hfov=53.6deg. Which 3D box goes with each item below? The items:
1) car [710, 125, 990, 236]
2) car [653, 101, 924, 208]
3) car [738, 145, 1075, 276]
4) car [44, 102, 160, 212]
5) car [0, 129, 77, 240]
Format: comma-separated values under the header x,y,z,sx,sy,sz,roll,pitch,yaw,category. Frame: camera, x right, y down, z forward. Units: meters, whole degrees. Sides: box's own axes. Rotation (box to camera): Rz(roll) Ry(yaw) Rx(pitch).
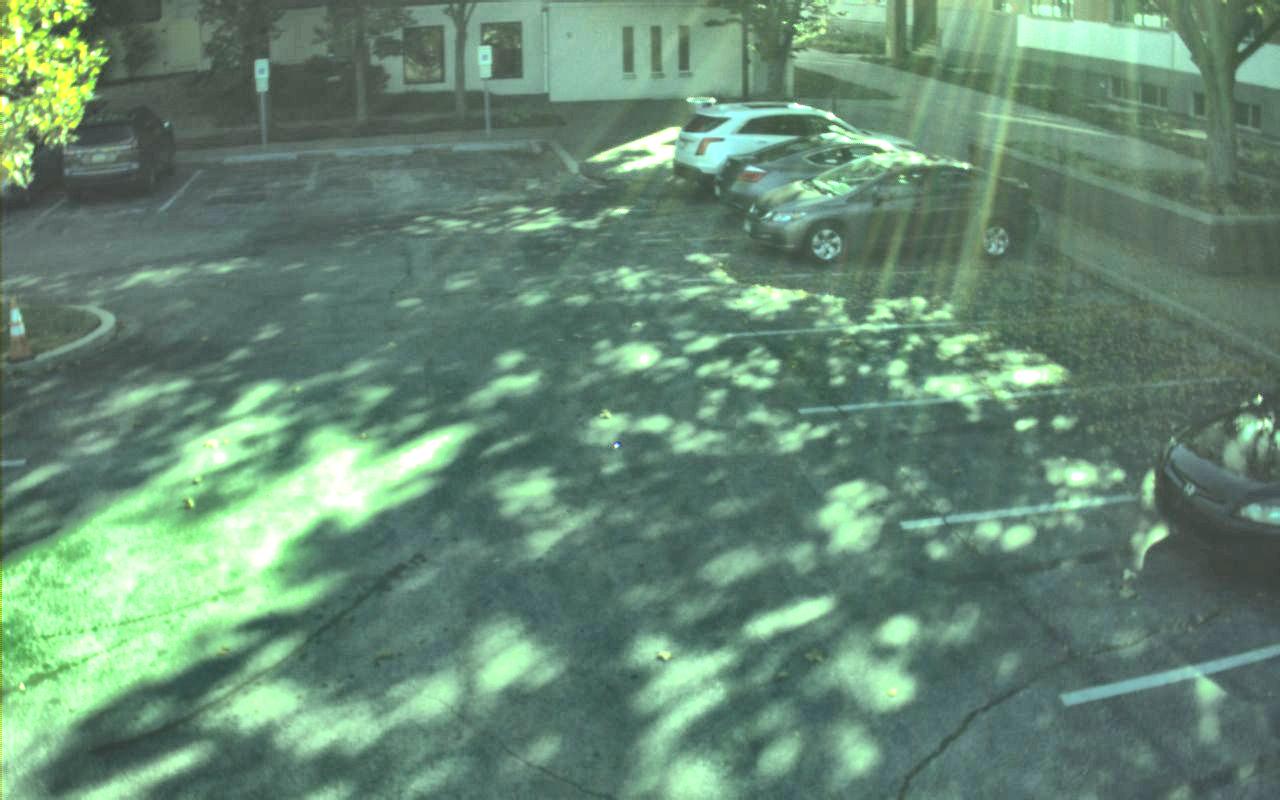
x,y,z,sx,sy,sz,roll,pitch,yaw,category
3.451,-3.680,20.415,4.281,1.536,1.909,-4,17,-11,car
2.720,-4.568,22.807,4.613,1.660,1.984,-5,17,-14,car
3.934,-2.878,18.182,4.649,1.555,1.985,-4,17,-10,car
-11.418,-5.205,24.405,2.006,1.757,4.624,-6,17,-16,car
-13.662,-4.657,23.914,1.974,1.660,4.525,-4,17,-10,car
